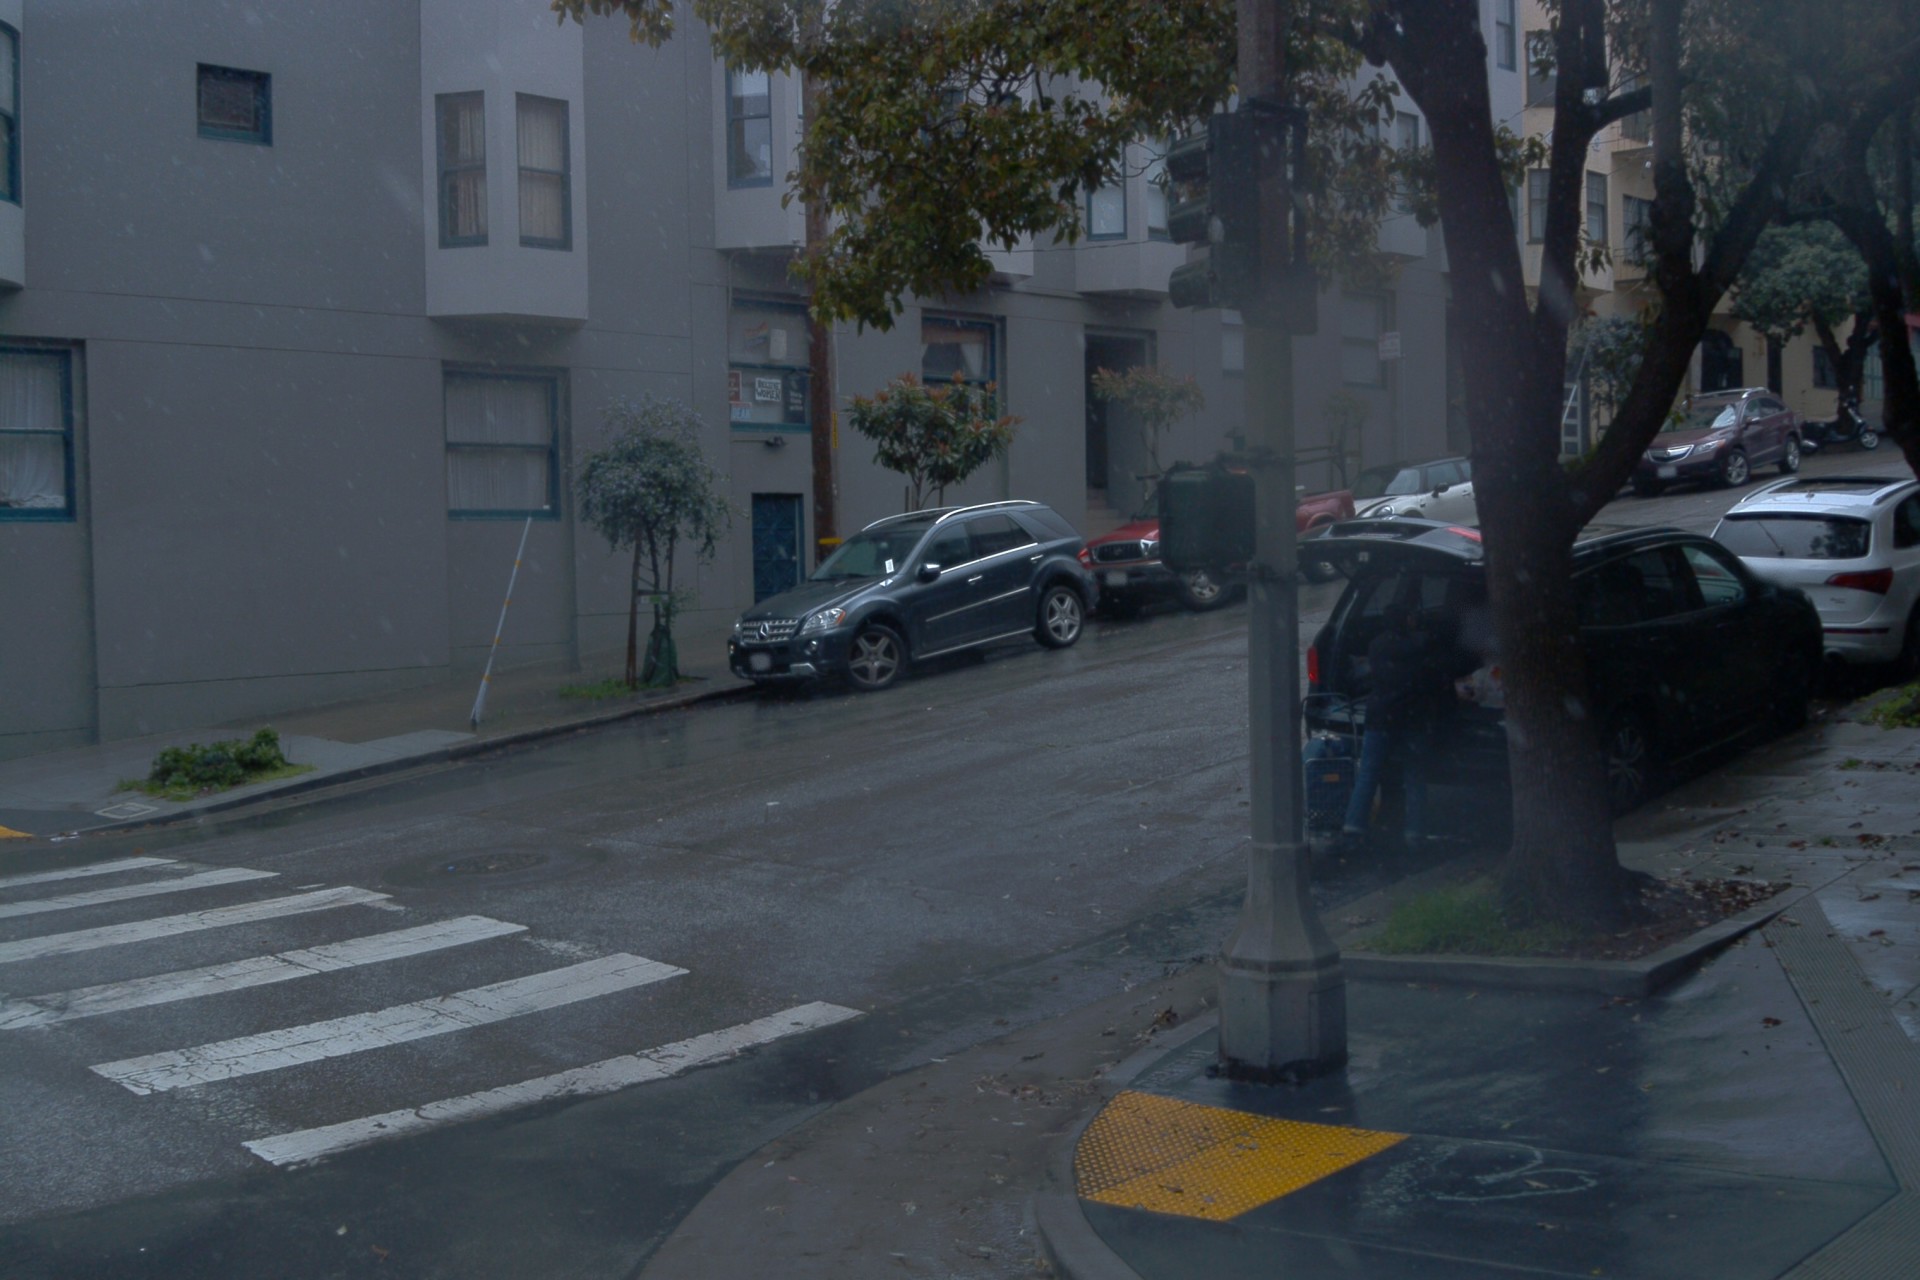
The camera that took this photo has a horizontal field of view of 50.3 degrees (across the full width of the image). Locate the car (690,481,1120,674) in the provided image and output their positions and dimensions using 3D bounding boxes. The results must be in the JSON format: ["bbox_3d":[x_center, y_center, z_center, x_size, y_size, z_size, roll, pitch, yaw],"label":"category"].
[{"bbox_3d":[-0.537,-0.632,23.358,2.225,1.980,4.671,0,0,44],"label":"car"}]

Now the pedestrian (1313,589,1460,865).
[{"bbox_3d":[2.654,0.515,12.652,0.793,1.634,0.884,0,0,18],"label":"pedestrian"}]

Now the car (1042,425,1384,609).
[{"bbox_3d":[3.485,-1.557,27.648,4.537,2.180,2.259,0,0,-45],"label":"car"}]

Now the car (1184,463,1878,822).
[{"bbox_3d":[4.264,0.022,14.505,2.384,2.040,5.680,0,0,43],"label":"car"}]
